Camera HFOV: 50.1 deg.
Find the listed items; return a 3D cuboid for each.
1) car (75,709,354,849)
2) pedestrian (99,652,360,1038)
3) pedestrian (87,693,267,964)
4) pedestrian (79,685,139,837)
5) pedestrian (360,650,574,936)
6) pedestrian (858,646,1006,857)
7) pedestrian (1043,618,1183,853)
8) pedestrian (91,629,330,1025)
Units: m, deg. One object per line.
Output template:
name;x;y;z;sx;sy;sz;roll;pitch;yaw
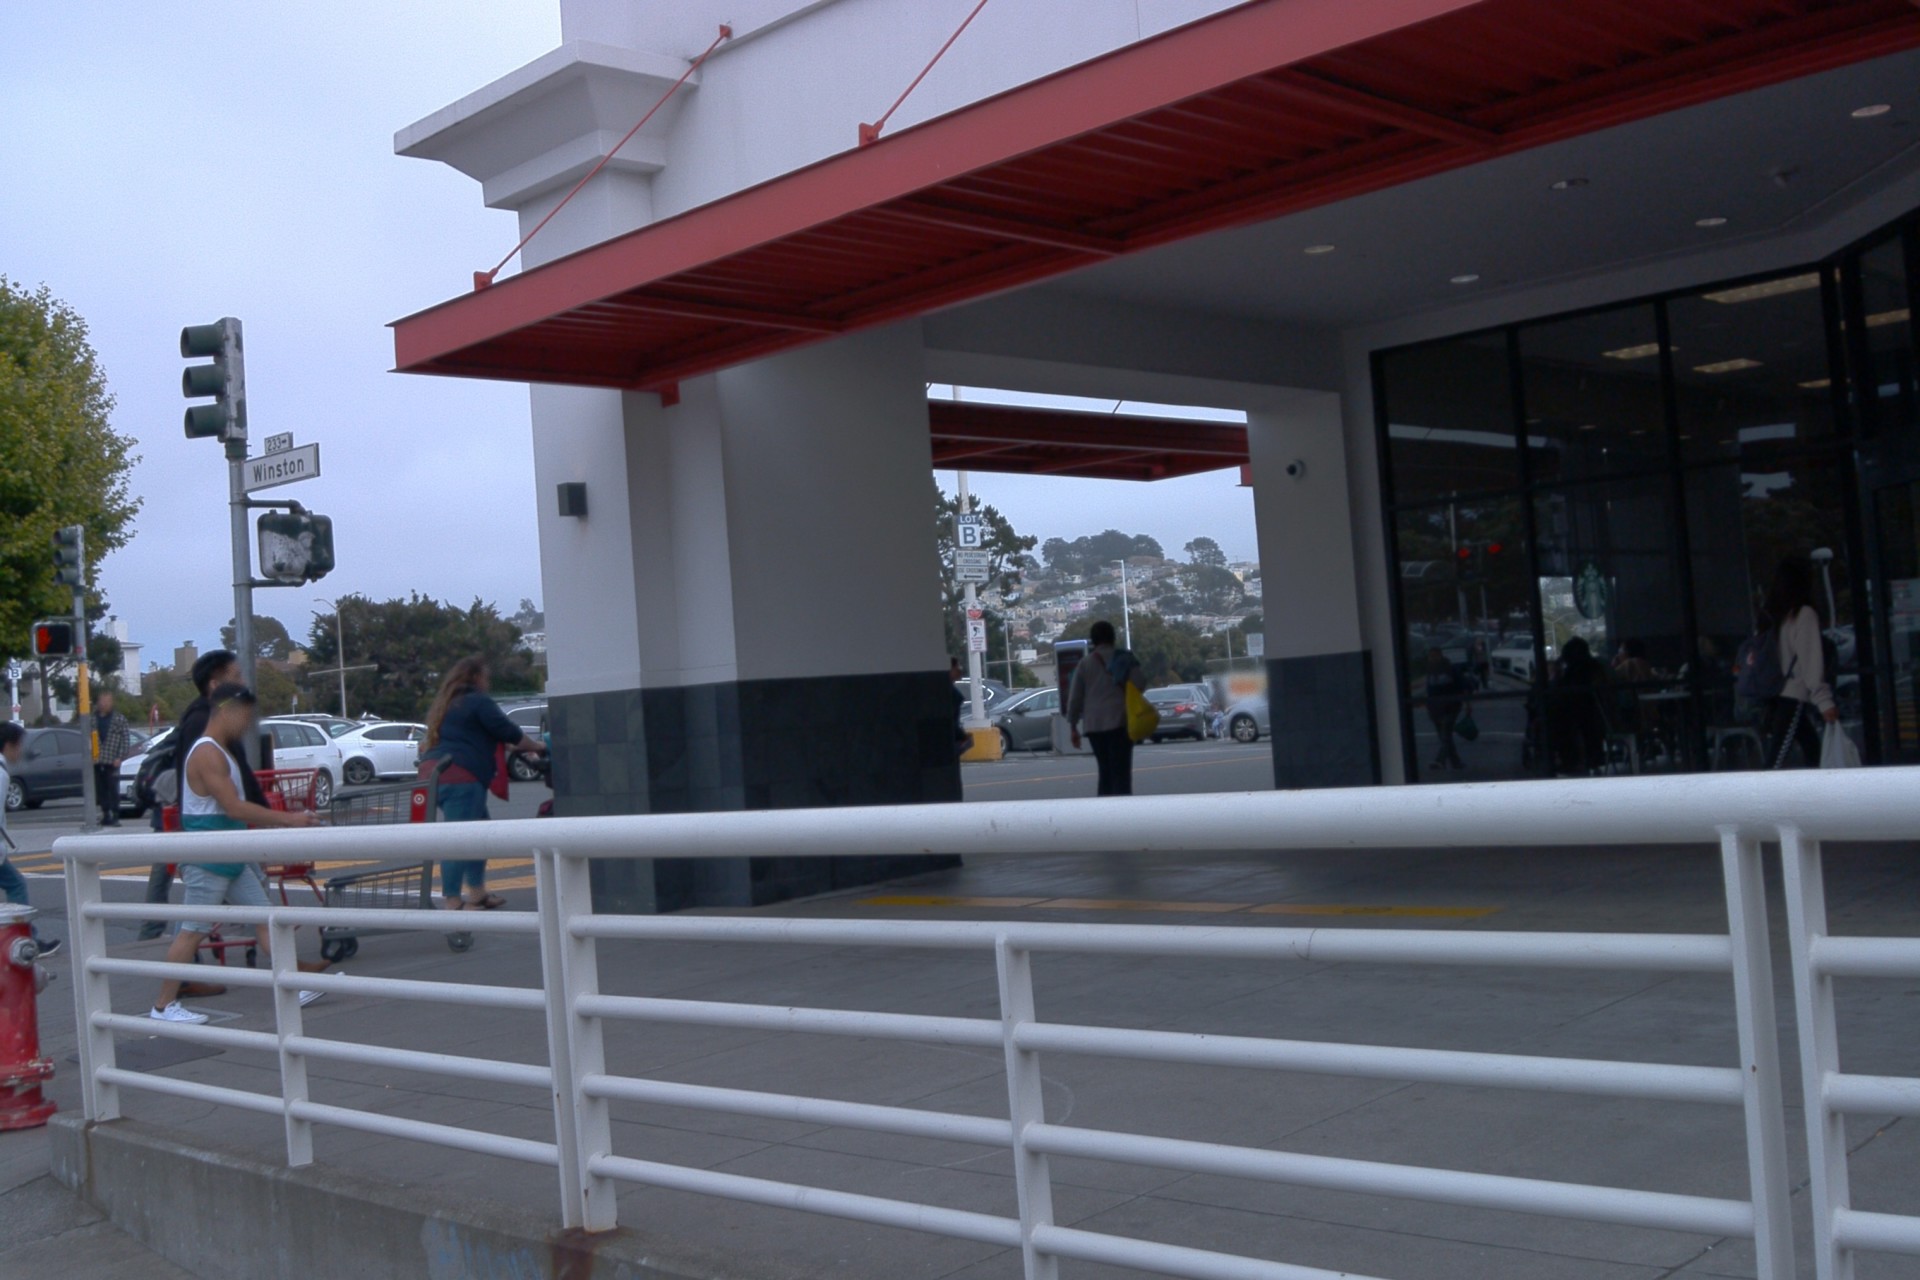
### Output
car;-11.162;2.024;31.137;1.974;1.760;4.391;0;1;12
pedestrian;-3.318;0.897;9.421;1.010;1.670;0.740;0;0;-10
pedestrian;-5.313;1.244;13.960;0.672;1.720;0.935;0;0;43
pedestrian;-10.976;1.542;26.528;0.616;1.900;0.745;0;0;-15
pedestrian;-3.126;0.929;13.050;1.124;1.710;0.709;0;0;-37
pedestrian;-0.213;0.834;15.899;0.650;1.560;0.971;0;0;43
pedestrian;1.075;0.639;14.347;0.785;1.580;0.810;0;0;20
pedestrian;-3.657;0.866;10.123;1.001;1.830;0.942;0;0;-13
